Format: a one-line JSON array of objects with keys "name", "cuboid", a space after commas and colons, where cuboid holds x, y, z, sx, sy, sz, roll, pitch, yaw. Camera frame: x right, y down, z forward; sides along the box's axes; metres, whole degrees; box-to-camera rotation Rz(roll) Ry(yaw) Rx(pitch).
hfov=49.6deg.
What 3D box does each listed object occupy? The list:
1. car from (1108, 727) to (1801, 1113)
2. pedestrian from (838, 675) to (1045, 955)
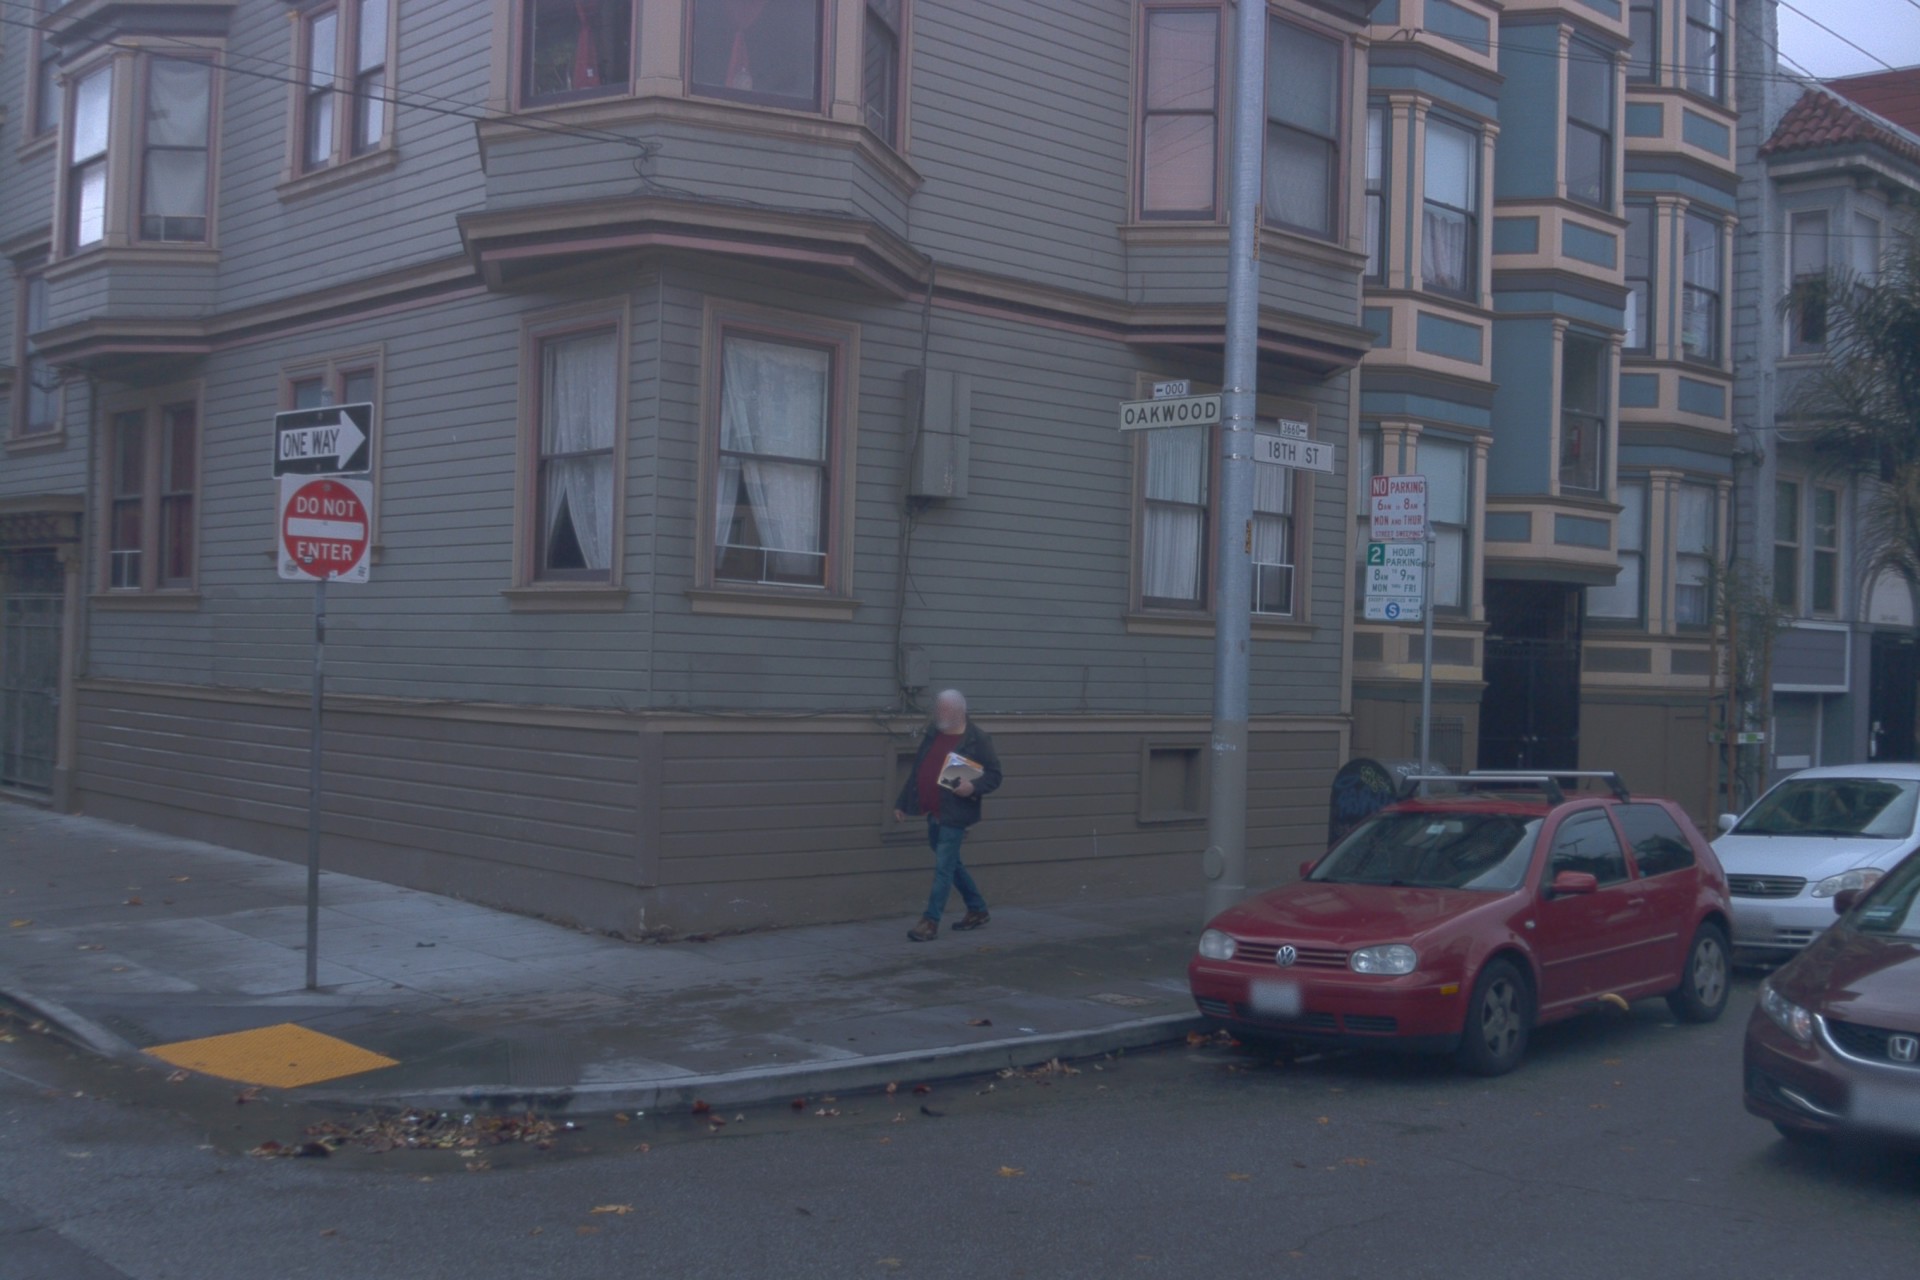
[{"name": "car", "cuboid": [3.053, 1.441, 12.236, 2.028, 1.750, 4.282, 0, -1, 44]}, {"name": "pedestrian", "cuboid": [-0.131, 1.185, 14.572, 1.006, 1.850, 0.994, 2, -1, -43]}]
